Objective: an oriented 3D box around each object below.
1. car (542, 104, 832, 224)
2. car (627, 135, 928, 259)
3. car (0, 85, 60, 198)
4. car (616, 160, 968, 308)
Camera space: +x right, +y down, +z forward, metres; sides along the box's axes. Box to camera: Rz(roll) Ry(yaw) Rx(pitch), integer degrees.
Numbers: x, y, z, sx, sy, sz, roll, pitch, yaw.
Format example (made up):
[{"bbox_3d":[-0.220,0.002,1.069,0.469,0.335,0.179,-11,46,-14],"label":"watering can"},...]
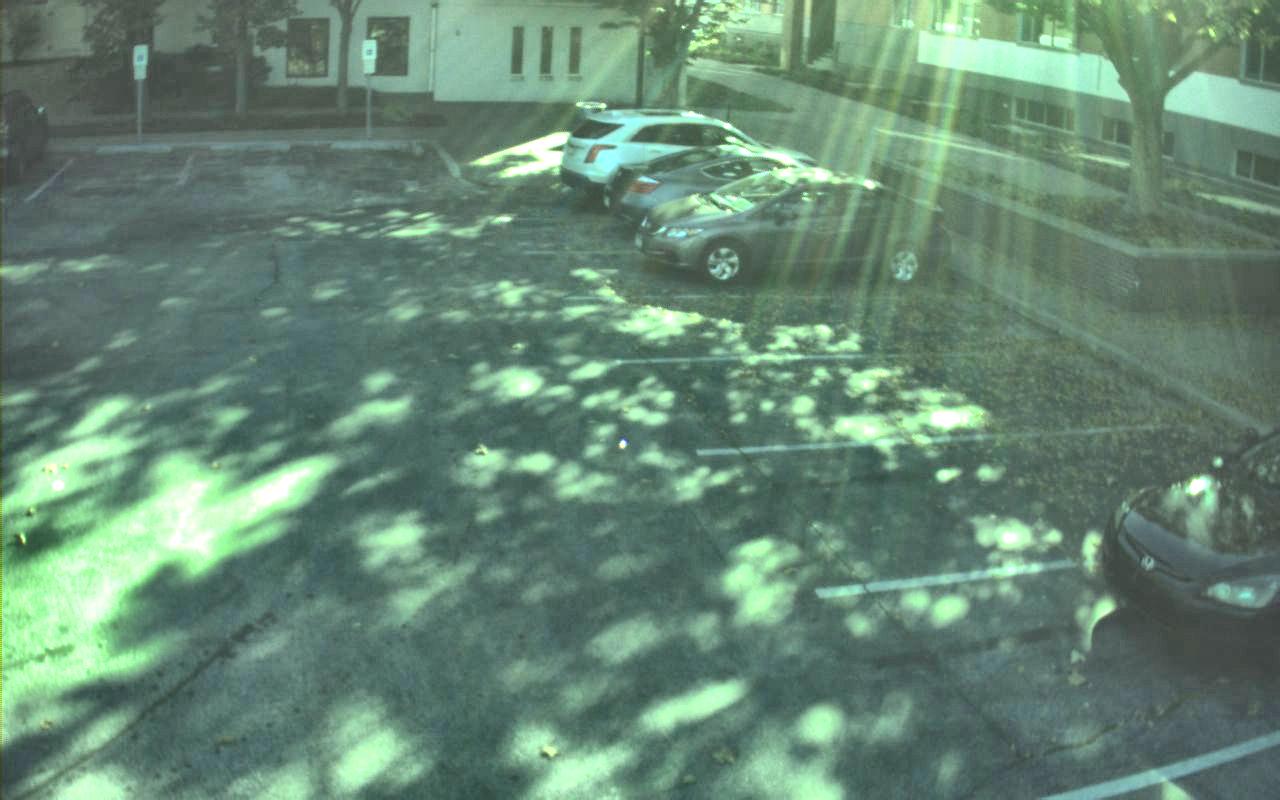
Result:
[{"bbox_3d":[0.828,-4.213,21.854,4.689,1.700,2.005,-7,17,-19],"label":"car"},{"bbox_3d":[2.127,-3.234,19.424,4.313,1.545,1.907,-5,17,-13],"label":"car"},{"bbox_3d":[-13.104,-5.264,22.241,2.015,1.736,4.609,-6,17,-17],"label":"car"},{"bbox_3d":[2.117,-2.400,17.357,4.516,1.536,1.943,-6,17,-16],"label":"car"}]
